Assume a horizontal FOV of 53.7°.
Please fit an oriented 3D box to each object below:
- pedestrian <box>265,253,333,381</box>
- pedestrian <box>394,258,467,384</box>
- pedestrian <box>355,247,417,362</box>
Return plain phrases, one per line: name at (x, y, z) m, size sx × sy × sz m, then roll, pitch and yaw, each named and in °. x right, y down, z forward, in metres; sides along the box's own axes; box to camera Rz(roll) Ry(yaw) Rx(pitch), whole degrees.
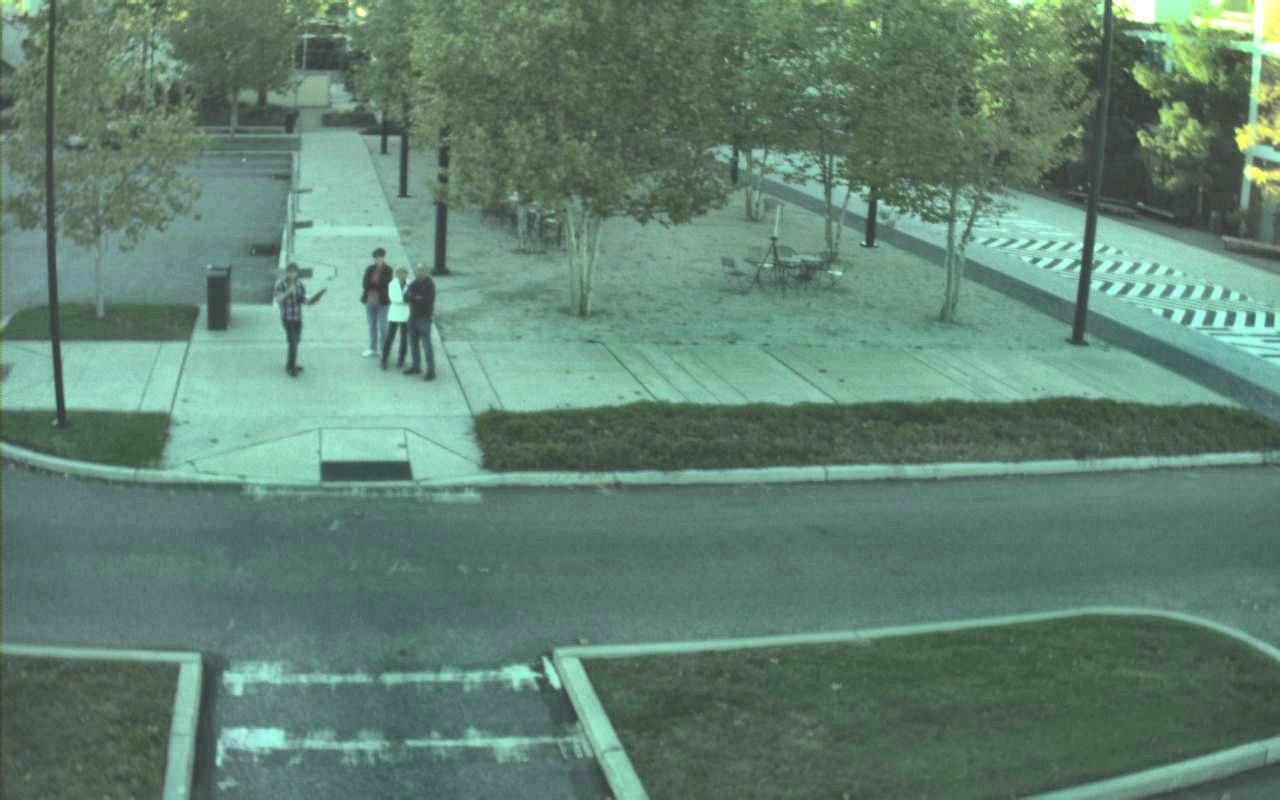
pedestrian at (-5.501, -1.327, 19.673) m, size 0.772 × 1.859 × 0.782 m, roll -12°, pitch 18°, yaw -35°
pedestrian at (-3.355, -1.278, 20.034) m, size 0.781 × 1.827 × 0.779 m, roll 6°, pitch 16°, yaw 24°
pedestrian at (-4.295, -1.607, 21.010) m, size 0.795 × 1.789 × 0.822 m, roll 0°, pitch 15°, yaw 3°
